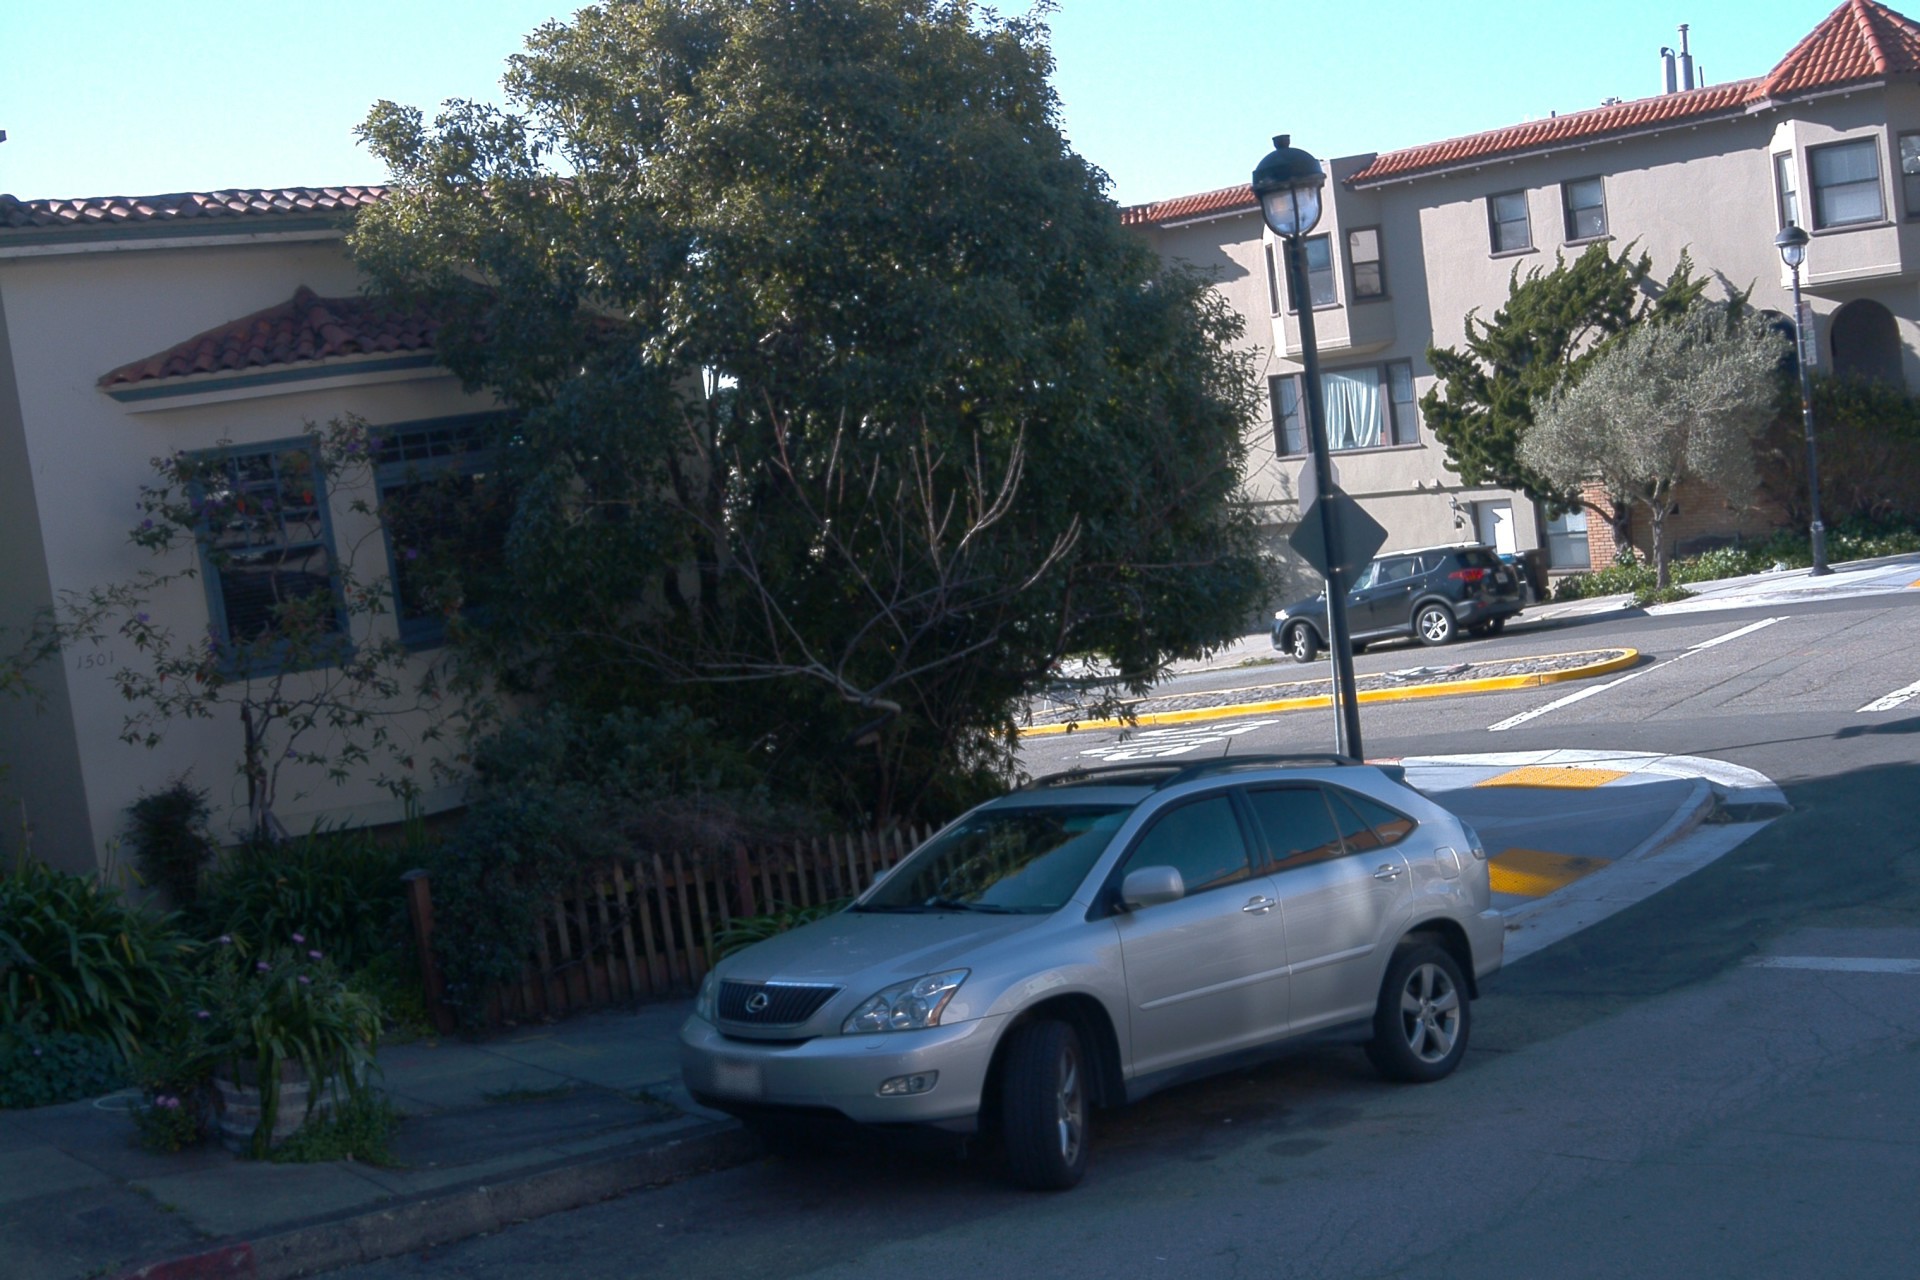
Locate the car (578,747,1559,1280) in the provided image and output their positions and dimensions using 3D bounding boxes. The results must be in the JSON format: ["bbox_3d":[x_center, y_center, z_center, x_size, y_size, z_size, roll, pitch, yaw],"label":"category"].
[{"bbox_3d":[0.717,1.561,10.111,4.666,1.810,2.097,-1,0,-42],"label":"car"}]

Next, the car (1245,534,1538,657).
[{"bbox_3d":[7.489,-0.731,36.253,2.204,2.020,4.526,0,0,-45],"label":"car"}]
